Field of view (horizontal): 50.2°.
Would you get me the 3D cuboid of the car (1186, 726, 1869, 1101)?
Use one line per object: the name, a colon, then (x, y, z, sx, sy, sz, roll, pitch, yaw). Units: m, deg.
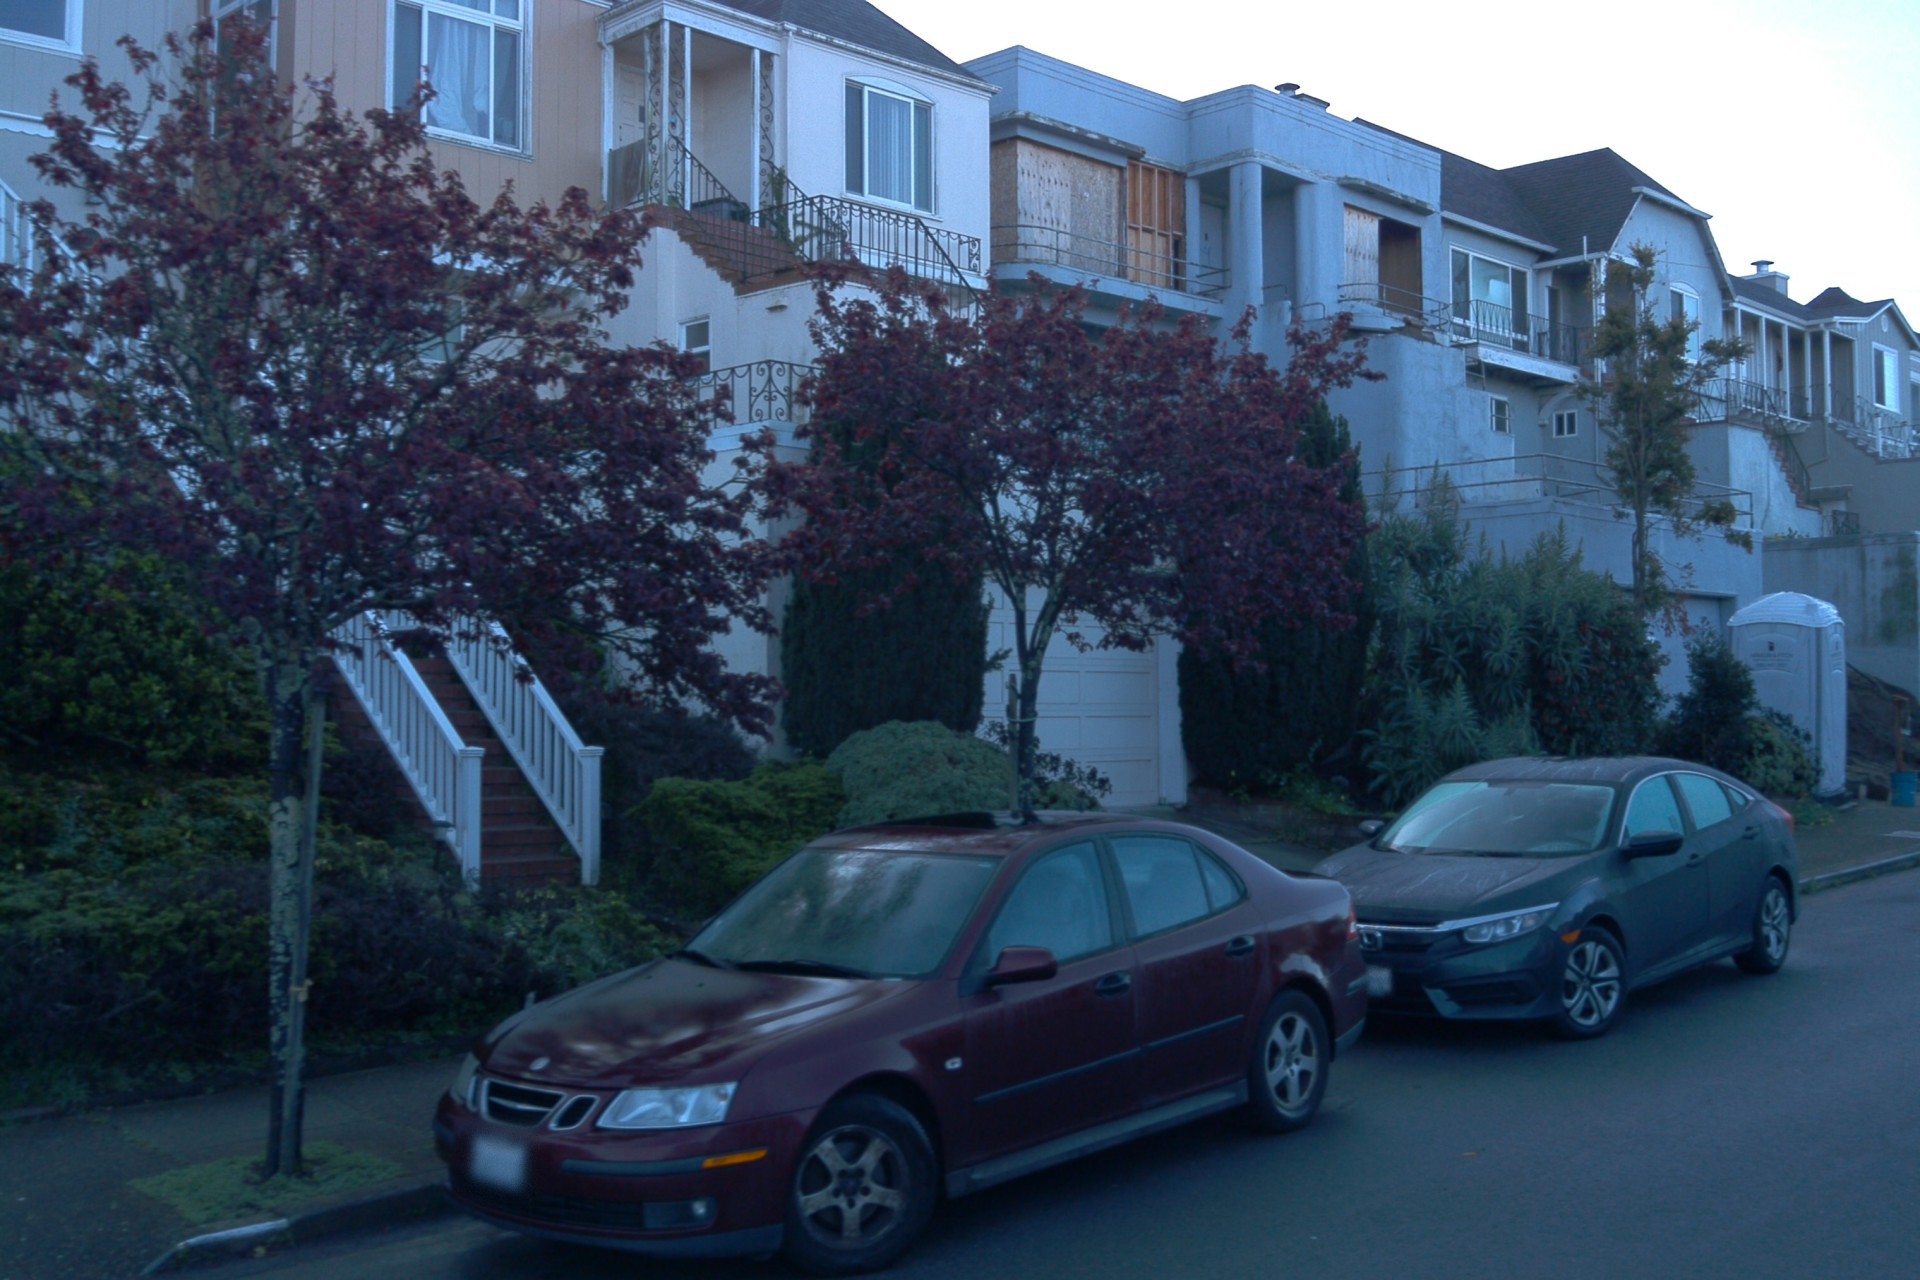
car: (3.635, 1.437, 12.479, 2.158, 1.560, 4.765, 1, 1, 41)

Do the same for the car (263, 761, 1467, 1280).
car: (-0.078, 1.449, 8.371, 2.146, 1.560, 4.808, 1, 1, 42)
